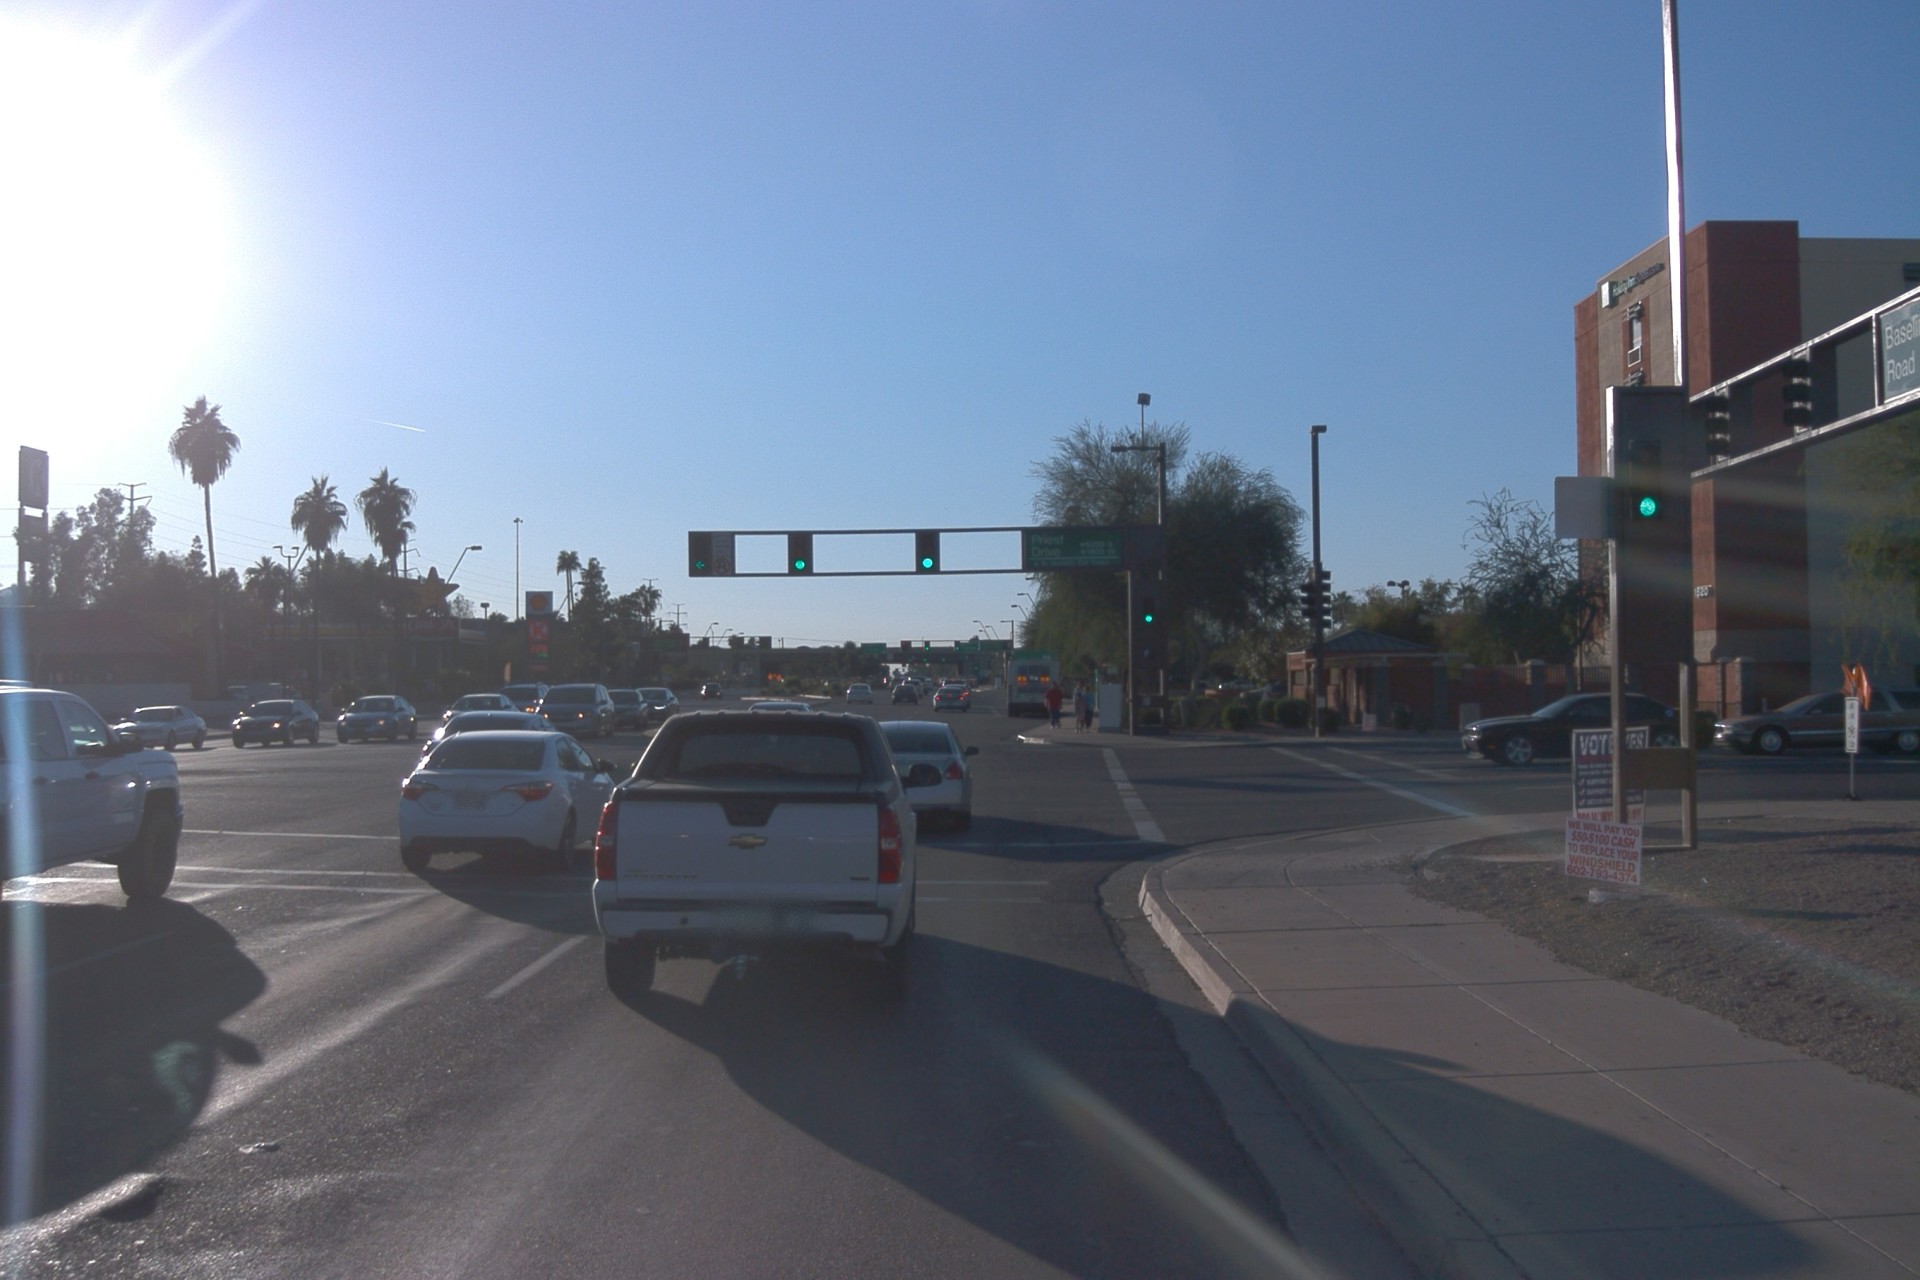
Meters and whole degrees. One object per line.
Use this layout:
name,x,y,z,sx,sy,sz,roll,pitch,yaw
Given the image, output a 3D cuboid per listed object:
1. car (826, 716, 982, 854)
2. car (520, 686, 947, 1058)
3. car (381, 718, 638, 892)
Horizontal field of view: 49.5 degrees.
car,-0.730,1.984,29.614,2.031,1.680,4.704,1,-1,0
car,-1.343,1.417,14.896,2.477,2.120,5.357,1,-1,0
car,-4.867,1.737,23.131,1.880,1.634,4.348,1,-1,0
